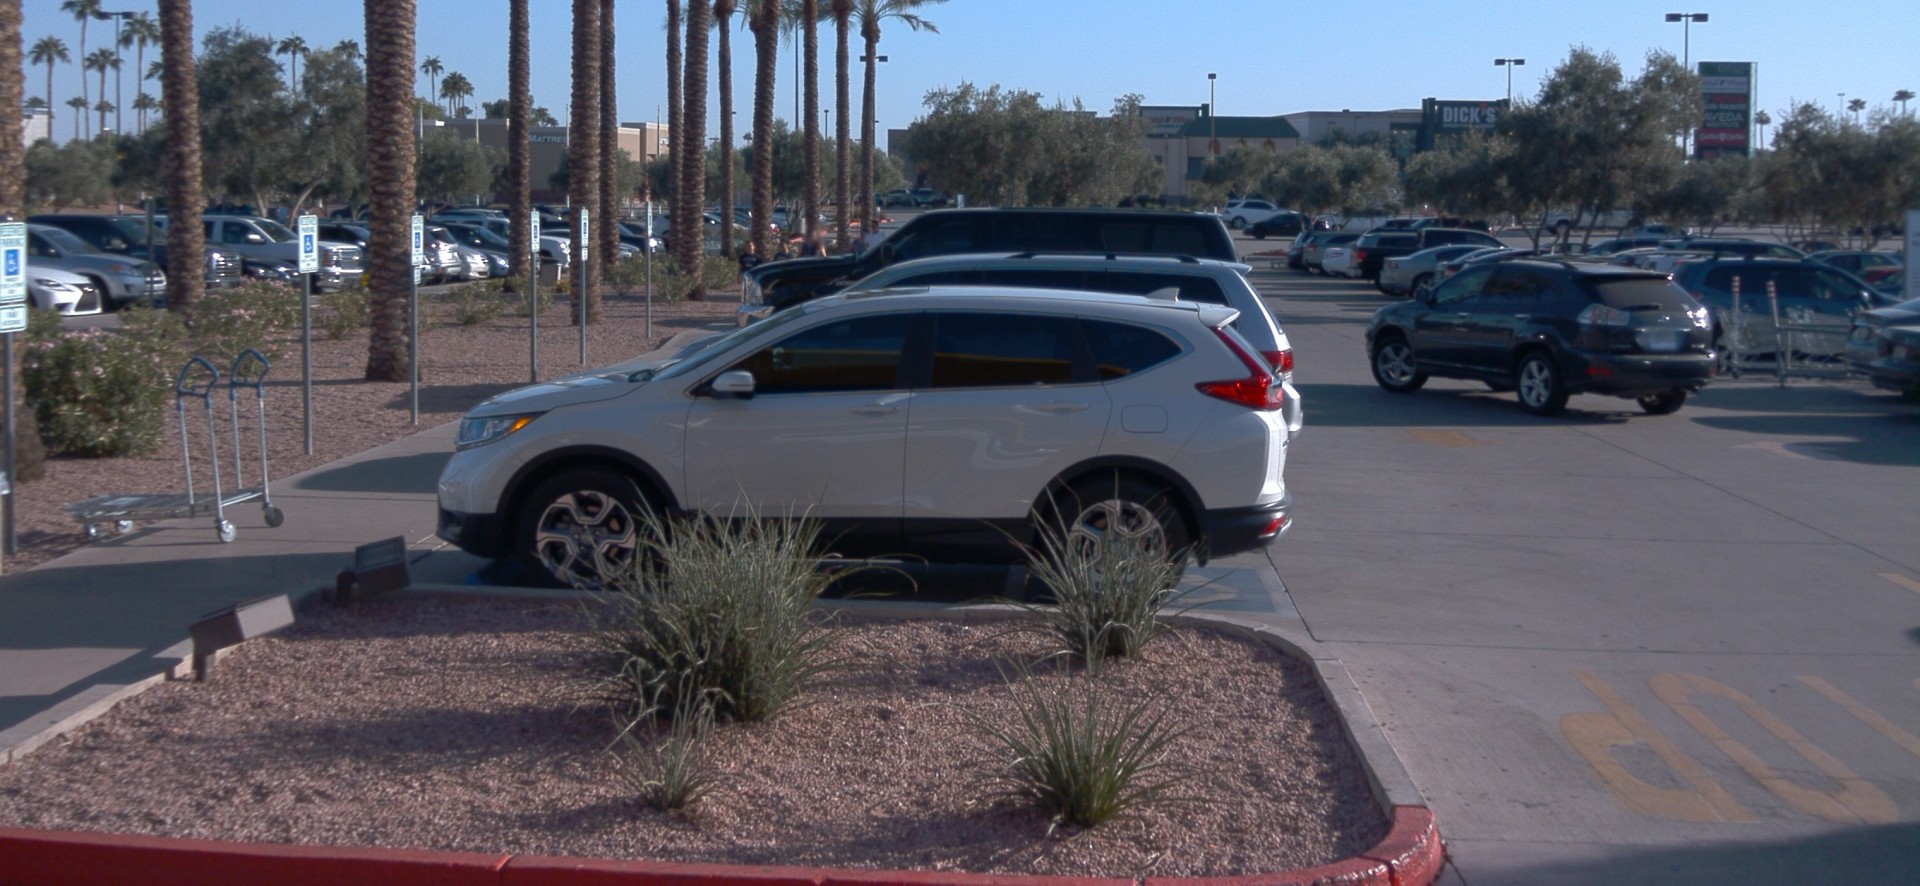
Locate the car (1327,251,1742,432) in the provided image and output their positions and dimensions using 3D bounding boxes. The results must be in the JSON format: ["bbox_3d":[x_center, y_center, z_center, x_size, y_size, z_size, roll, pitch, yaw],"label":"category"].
[{"bbox_3d":[6.430,-1.268,23.820,2.208,1.762,4.581,-1,6,-23],"label":"car"}]

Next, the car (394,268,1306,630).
[{"bbox_3d":[-0.562,-0.054,11.514,4.556,1.705,2.173,1,4,-1],"label":"car"}]

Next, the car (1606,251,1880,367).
[{"bbox_3d":[12.815,-2.226,34.097,3.872,1.776,1.661,1,3,2],"label":"car"}]

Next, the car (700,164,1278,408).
[{"bbox_3d":[0.387,-1.831,23.476,6.146,2.484,2.691,1,4,4],"label":"car"}]

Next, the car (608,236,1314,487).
[{"bbox_3d":[0.029,-0.727,16.697,5.275,1.775,2.262,1,4,1],"label":"car"}]
